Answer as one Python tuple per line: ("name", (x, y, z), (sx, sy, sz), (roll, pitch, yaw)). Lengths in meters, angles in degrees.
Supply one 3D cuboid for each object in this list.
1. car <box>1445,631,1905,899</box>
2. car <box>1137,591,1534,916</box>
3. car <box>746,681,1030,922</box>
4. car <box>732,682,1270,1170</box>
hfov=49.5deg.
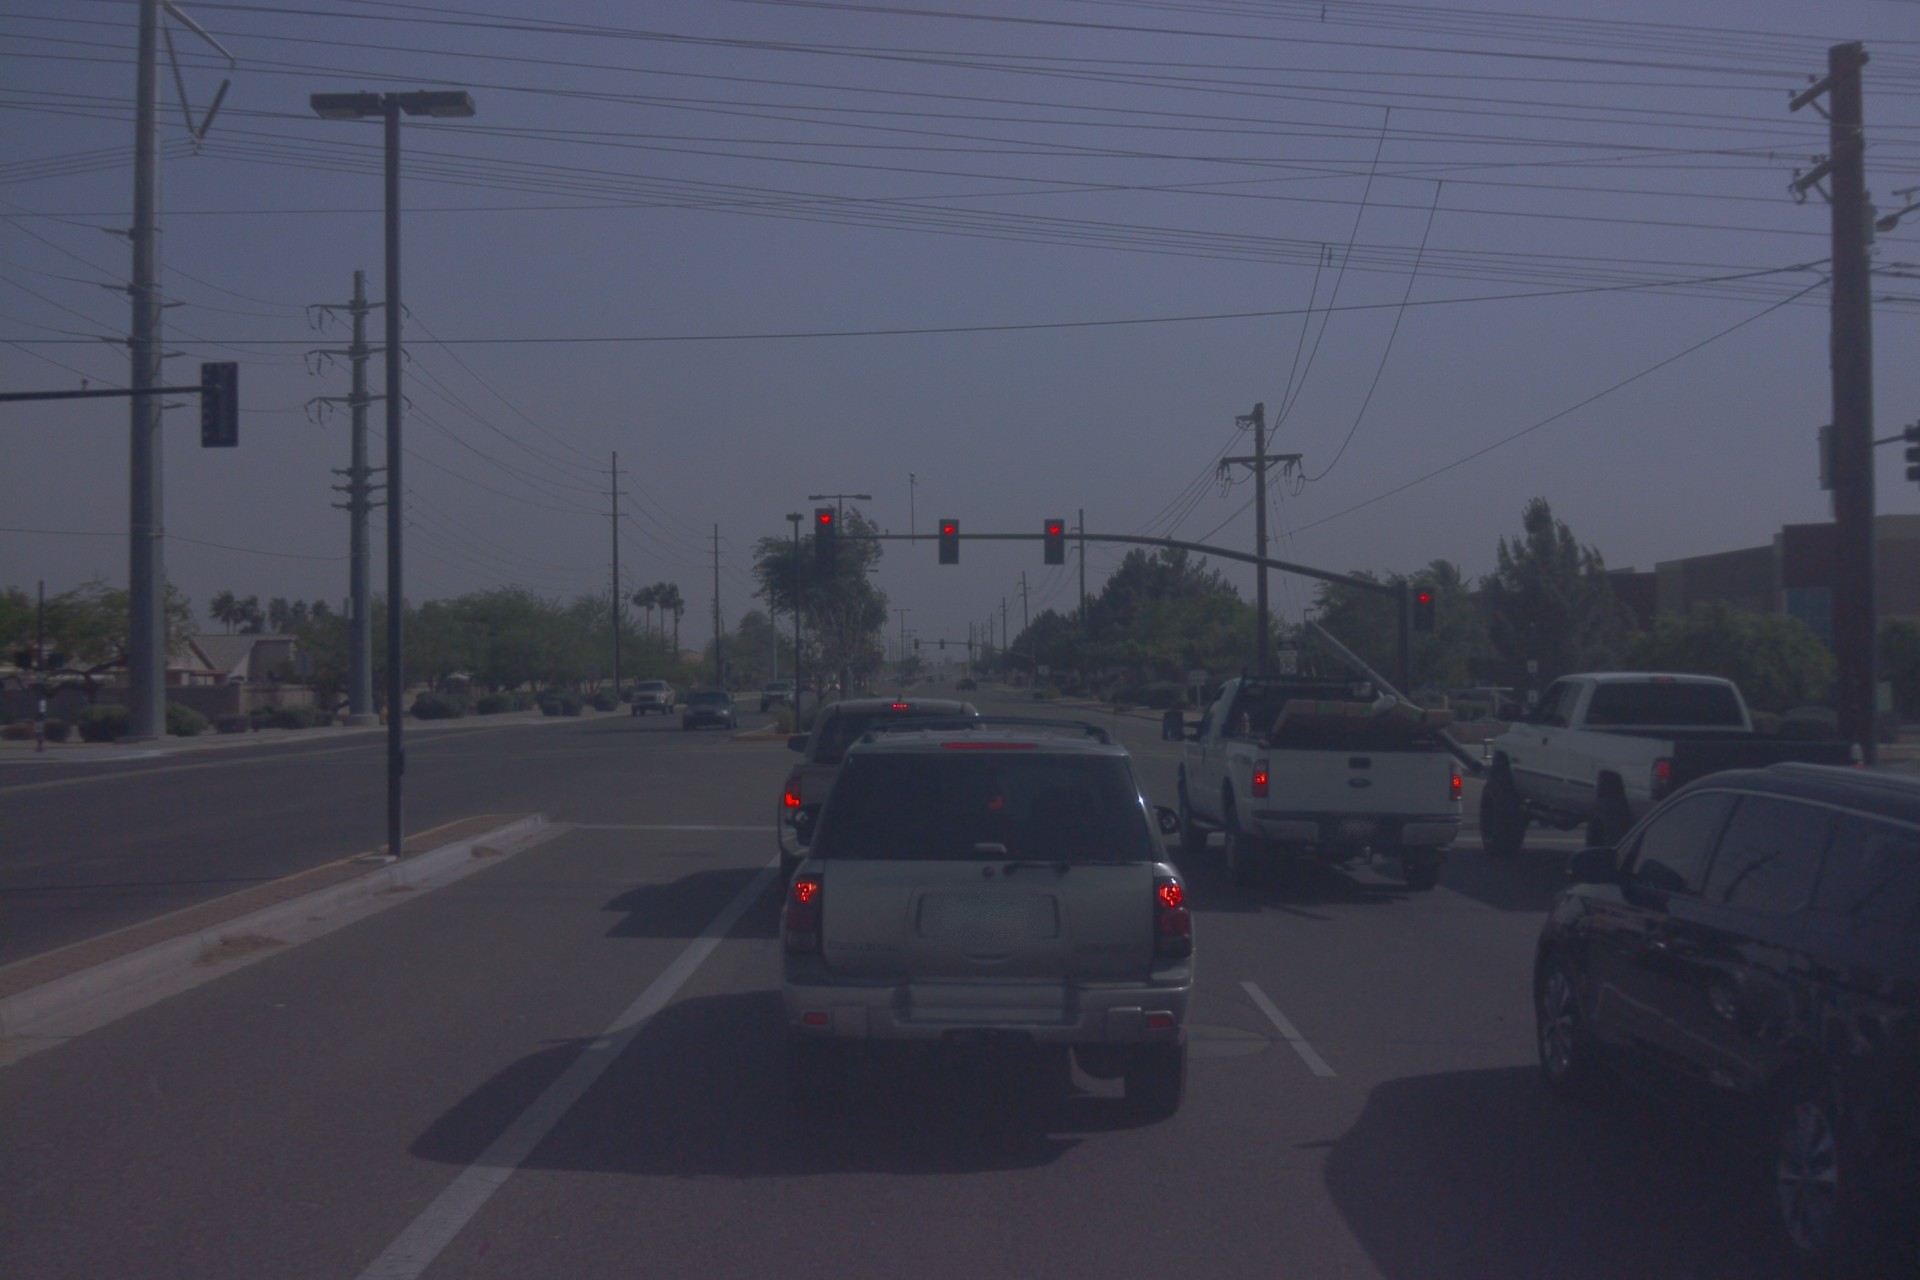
("car", (7.076, 1.145, 21.638), (2.415, 2.350, 6.497), (0, -1, -1))
("car", (3.455, 0.997, 20.907), (2.664, 2.710, 6.759), (0, -1, -1))
("car", (-0.541, 1.273, 18.010), (2.149, 1.780, 4.304), (0, -1, 0))
("car", (0.151, 1.226, 10.924), (2.201, 1.960, 4.684), (0, -1, 0))
